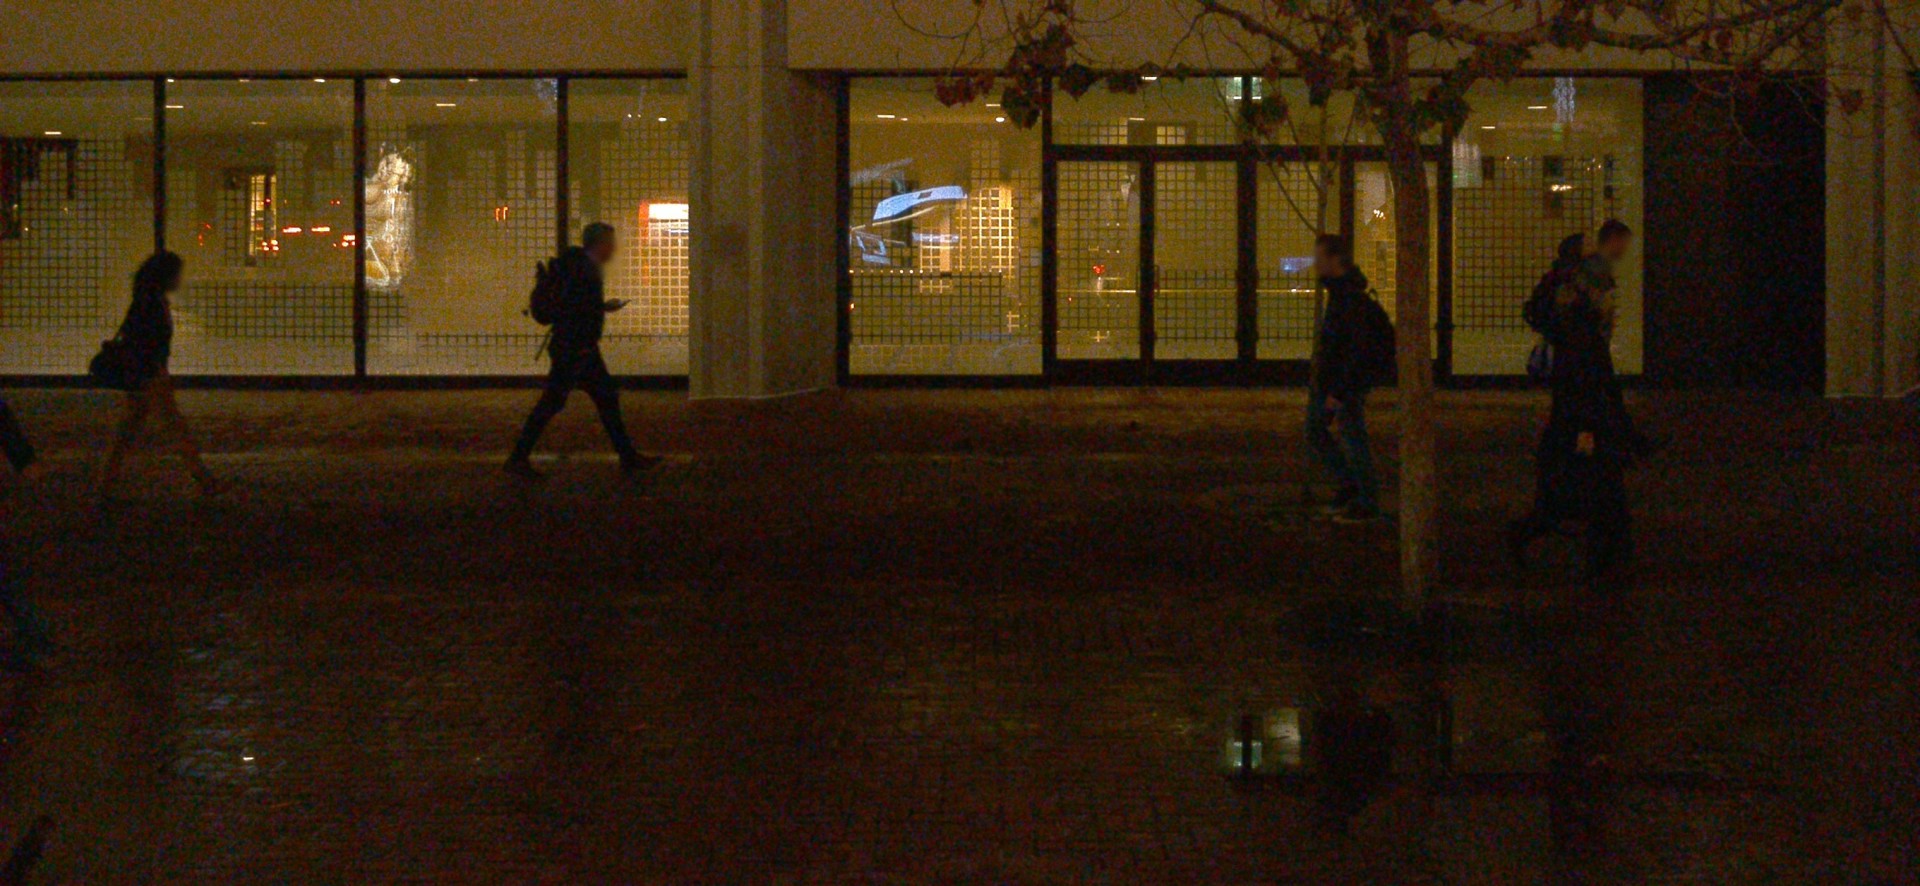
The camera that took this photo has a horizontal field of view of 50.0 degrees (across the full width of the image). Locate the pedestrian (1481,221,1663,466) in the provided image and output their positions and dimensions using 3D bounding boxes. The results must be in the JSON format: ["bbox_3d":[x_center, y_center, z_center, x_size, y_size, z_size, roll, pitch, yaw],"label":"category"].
[{"bbox_3d":[4.503,-0.752,15.208,1.132,1.761,0.747,0,0,1],"label":"pedestrian"}]

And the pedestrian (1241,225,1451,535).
[{"bbox_3d":[2.357,-0.414,12.683,1.142,1.851,0.759,0,0,0],"label":"pedestrian"}]

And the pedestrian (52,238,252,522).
[{"bbox_3d":[-5.216,-0.435,13.345,1.048,1.781,0.730,0,0,-6],"label":"pedestrian"}]

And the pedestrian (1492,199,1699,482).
[{"bbox_3d":[4.446,-0.739,14.492,1.195,1.931,0.895,0,1,2],"label":"pedestrian"}]

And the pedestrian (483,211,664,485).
[{"bbox_3d":[-2.657,-0.678,14.240,1.111,1.831,0.844,0,1,-2],"label":"pedestrian"}]

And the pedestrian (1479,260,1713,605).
[{"bbox_3d":[3.379,-0.104,11.044,1.091,1.751,0.971,0,1,11],"label":"pedestrian"}]
